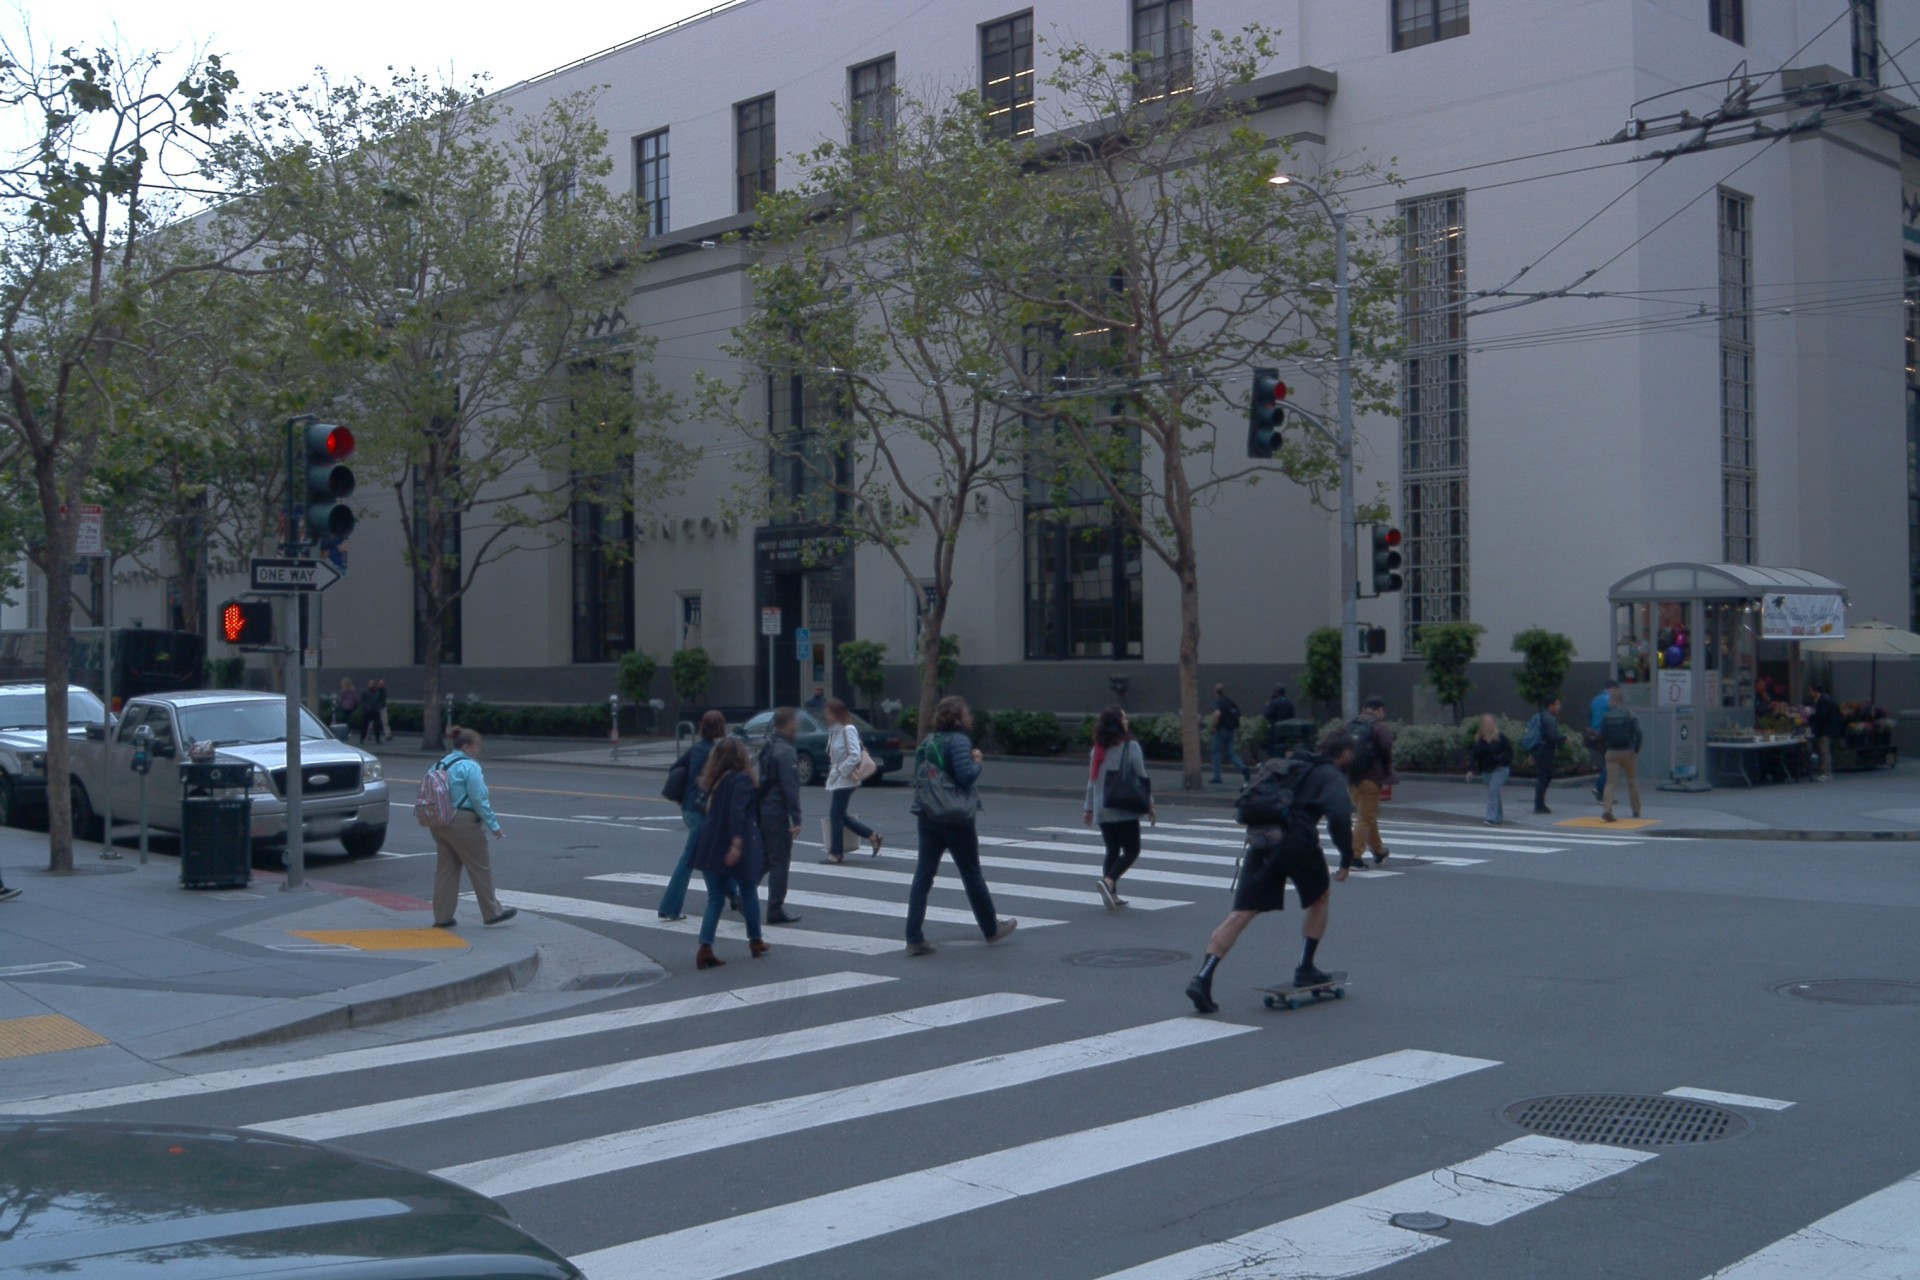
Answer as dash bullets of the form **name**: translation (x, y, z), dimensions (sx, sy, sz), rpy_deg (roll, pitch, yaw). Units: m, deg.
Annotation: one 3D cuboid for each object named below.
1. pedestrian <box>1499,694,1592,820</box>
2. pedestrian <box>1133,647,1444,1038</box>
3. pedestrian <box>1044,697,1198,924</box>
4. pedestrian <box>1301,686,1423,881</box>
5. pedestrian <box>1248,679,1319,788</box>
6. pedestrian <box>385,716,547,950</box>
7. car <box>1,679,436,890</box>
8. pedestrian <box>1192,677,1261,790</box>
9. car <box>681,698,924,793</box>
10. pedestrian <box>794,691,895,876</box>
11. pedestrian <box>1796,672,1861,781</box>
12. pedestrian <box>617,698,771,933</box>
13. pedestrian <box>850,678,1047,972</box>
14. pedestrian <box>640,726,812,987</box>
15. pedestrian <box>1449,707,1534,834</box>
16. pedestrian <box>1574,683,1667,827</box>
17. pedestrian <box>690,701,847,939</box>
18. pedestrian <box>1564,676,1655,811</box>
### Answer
- **pedestrian**: translation (8.316, 1.642, 29.322), dimensions (0.973, 1.706, 0.840), rpy_deg (0, 1, -19)
- **pedestrian**: translation (1.962, 1.118, 12.268), dimensions (1.544, 2.118, 1.097), rpy_deg (-1, 1, -42)
- **pedestrian**: translation (1.329, 1.368, 16.965), dimensions (0.795, 1.739, 1.044), rpy_deg (1, 1, 41)
- **pedestrian**: translation (3.846, 1.342, 19.726), dimensions (0.964, 1.771, 0.716), rpy_deg (-1, 1, -44)
- **pedestrian**: translation (5.548, 1.587, 35.436), dimensions (0.757, 1.796, 0.983), rpy_deg (-1, 1, -32)
- **pedestrian**: translation (-4.025, 1.538, 16.810), dimensions (1.013, 1.767, 0.829), rpy_deg (-1, 1, -40)
- **car**: translation (-8.688, 1.513, 23.811), dimensions (2.501, 1.940, 6.007), rpy_deg (-1, 1, -44)
- **pedestrian**: translation (4.560, 1.586, 35.373), dimensions (0.681, 1.856, 0.975), rpy_deg (-1, 1, -37)
- **car**: translation (-3.009, 1.916, 38.626), dimensions (2.016, 1.480, 4.678), rpy_deg (-1, 1, -44)
- **pedestrian**: translation (-1.181, 1.440, 20.964), dimensions (0.938, 1.800, 0.808), rpy_deg (0, 1, -10)
- **pedestrian**: translation (14.529, 1.432, 34.526), dimensions (0.751, 1.746, 0.848), rpy_deg (1, 1, 42)
- **pedestrian**: translation (-2.232, 1.439, 17.354), dimensions (0.828, 1.856, 0.973), rpy_deg (1, 1, 43)
- **pedestrian**: translation (-0.076, 1.281, 14.852), dimensions (0.842, 1.969, 1.167), rpy_deg (1, 1, 43)
- **pedestrian**: translation (-1.677, 1.524, 14.860), dimensions (0.882, 1.741, 0.892), rpy_deg (0, 1, 25)
- **pedestrian**: translation (7.248, 1.766, 28.146), dimensions (0.893, 1.646, 0.735), rpy_deg (-1, 1, -38)
- **pedestrian**: translation (9.112, 1.565, 28.457), dimensions (1.051, 1.896, 0.762), rpy_deg (-1, 1, -39)
- **pedestrian**: translation (-1.552, 1.424, 16.748), dimensions (0.942, 1.809, 0.850), rpy_deg (-1, 1, -41)
- **pedestrian**: translation (9.496, 1.497, 30.174), dimensions (0.983, 1.896, 0.798), rpy_deg (0, 1, -23)
